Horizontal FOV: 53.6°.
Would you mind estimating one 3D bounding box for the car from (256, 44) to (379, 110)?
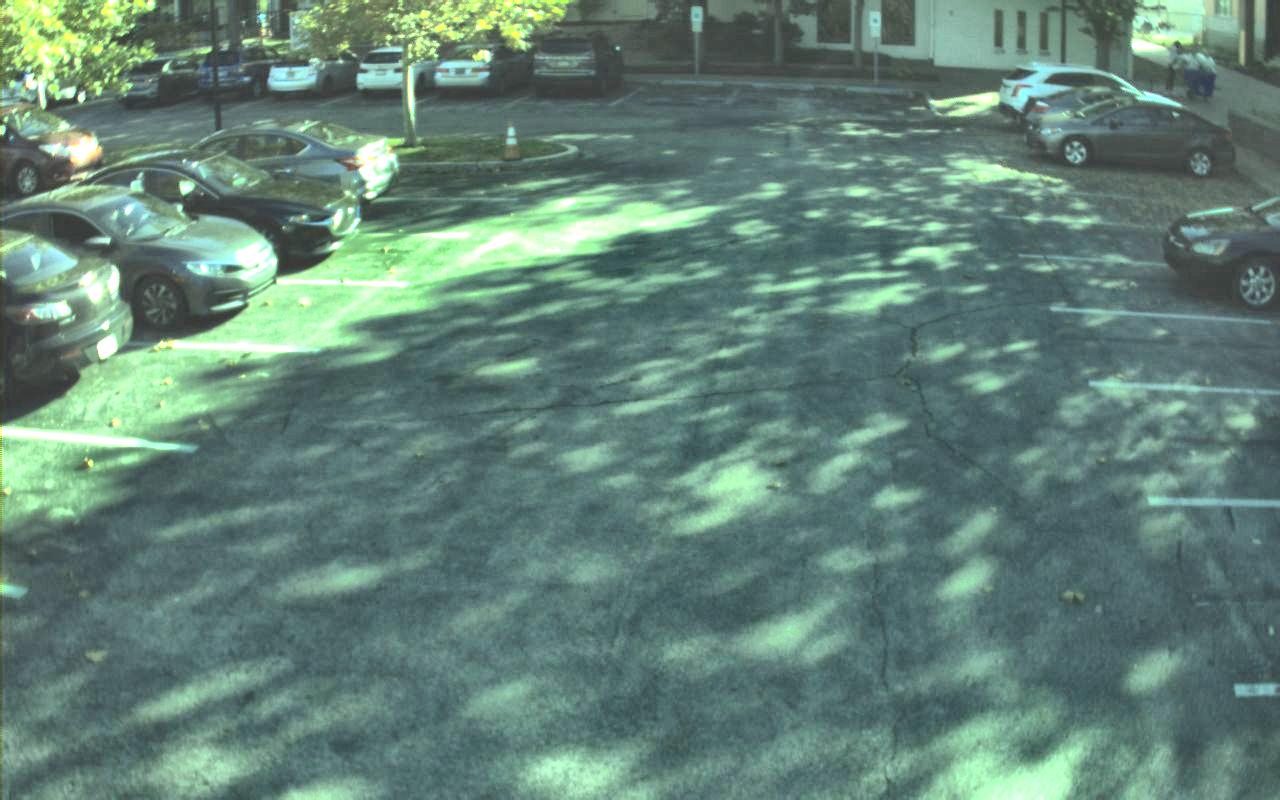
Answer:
[{"bbox_3d":[-9.608,-9.670,35.899,1.958,1.649,4.510,2,17,11],"label":"car"}]

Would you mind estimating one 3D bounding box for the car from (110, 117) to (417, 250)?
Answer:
[{"bbox_3d":[-5.735,-3.267,18.194,4.365,1.614,1.947,1,16,7],"label":"car"}]

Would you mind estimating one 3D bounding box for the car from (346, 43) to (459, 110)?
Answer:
[{"bbox_3d":[-6.875,-9.466,35.519,1.961,1.651,4.520,1,17,8],"label":"car"}]

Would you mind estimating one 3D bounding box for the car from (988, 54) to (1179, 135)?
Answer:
[{"bbox_3d":[10.607,-7.293,28.116,4.443,1.608,1.961,1,16,5],"label":"car"}]

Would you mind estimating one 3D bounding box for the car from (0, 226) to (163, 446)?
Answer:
[{"bbox_3d":[-7.064,-0.750,11.078,4.387,1.578,1.946,4,17,16],"label":"car"}]

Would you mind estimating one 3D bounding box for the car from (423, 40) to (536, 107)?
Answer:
[{"bbox_3d":[-4.459,-9.237,34.601,1.950,1.623,4.490,2,17,10],"label":"car"}]

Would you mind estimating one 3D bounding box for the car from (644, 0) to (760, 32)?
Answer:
[{"bbox_3d":[2.779,-17.130,53.966,4.953,1.774,2.112,1,16,7],"label":"car"}]

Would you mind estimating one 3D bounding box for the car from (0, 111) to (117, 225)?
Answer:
[{"bbox_3d":[-12.831,-4.527,21.881,4.742,1.731,2.040,1,16,8],"label":"car"}]

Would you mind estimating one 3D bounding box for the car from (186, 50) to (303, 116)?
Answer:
[{"bbox_3d":[-12.158,-9.759,36.380,1.964,1.655,4.524,1,17,7],"label":"car"}]

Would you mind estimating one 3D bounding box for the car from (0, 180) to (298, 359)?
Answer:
[{"bbox_3d":[-6.268,-1.530,13.318,4.357,1.552,1.934,3,17,13],"label":"car"}]

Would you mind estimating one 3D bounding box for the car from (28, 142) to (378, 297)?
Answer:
[{"bbox_3d":[-5.799,-2.366,15.637,4.384,1.584,1.945,0,16,5],"label":"car"}]

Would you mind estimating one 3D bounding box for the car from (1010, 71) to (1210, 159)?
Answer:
[{"bbox_3d":[10.324,-6.263,25.755,4.361,1.585,1.947,2,17,11],"label":"car"}]

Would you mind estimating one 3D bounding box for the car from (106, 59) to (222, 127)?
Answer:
[{"bbox_3d":[-14.969,-9.632,36.399,1.973,1.673,4.547,1,17,6],"label":"car"}]

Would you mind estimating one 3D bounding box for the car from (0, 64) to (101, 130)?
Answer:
[{"bbox_3d":[-20.546,-10.327,38.057,1.999,1.700,4.689,1,17,8],"label":"car"}]

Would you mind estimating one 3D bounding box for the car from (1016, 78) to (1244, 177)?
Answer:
[{"bbox_3d":[9.855,-5.483,23.489,4.553,1.592,1.980,2,16,9],"label":"car"}]
